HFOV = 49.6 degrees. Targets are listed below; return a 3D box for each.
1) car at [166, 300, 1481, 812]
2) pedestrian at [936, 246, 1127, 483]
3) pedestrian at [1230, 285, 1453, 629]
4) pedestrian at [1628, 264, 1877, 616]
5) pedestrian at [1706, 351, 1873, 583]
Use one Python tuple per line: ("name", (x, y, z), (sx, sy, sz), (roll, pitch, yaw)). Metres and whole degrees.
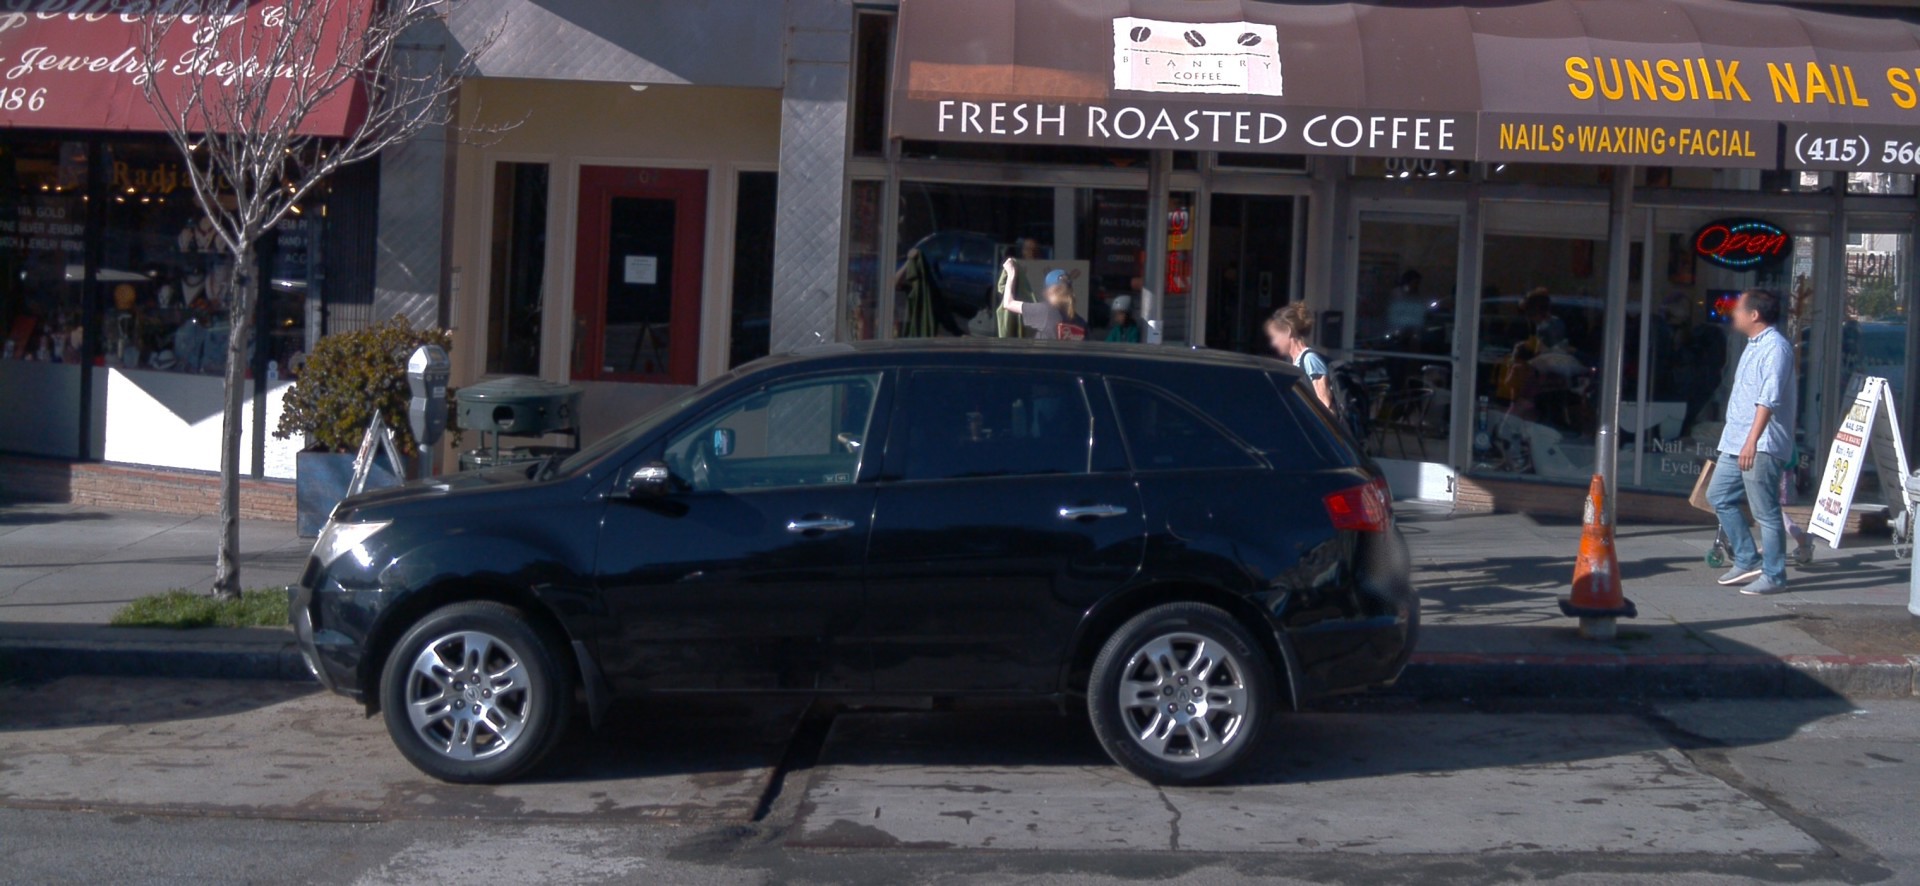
("car", (-0.498, 0.362, 8.855), (4.928, 1.774, 2.079), (1, 4, -1))
("pedestrian", (0.452, -0.561, 13.820), (0.881, 1.456, 1.342), (0, 4, -17))
("pedestrian", (2.072, 0.031, 11.450), (1.044, 1.746, 1.146), (1, 3, 2))
("pedestrian", (4.496, -0.056, 11.860), (0.995, 1.885, 1.032), (1, 2, -1))
("pedestrian", (5.000, 0.127, 12.549), (0.720, 1.307, 0.671), (1, 2, -1))
